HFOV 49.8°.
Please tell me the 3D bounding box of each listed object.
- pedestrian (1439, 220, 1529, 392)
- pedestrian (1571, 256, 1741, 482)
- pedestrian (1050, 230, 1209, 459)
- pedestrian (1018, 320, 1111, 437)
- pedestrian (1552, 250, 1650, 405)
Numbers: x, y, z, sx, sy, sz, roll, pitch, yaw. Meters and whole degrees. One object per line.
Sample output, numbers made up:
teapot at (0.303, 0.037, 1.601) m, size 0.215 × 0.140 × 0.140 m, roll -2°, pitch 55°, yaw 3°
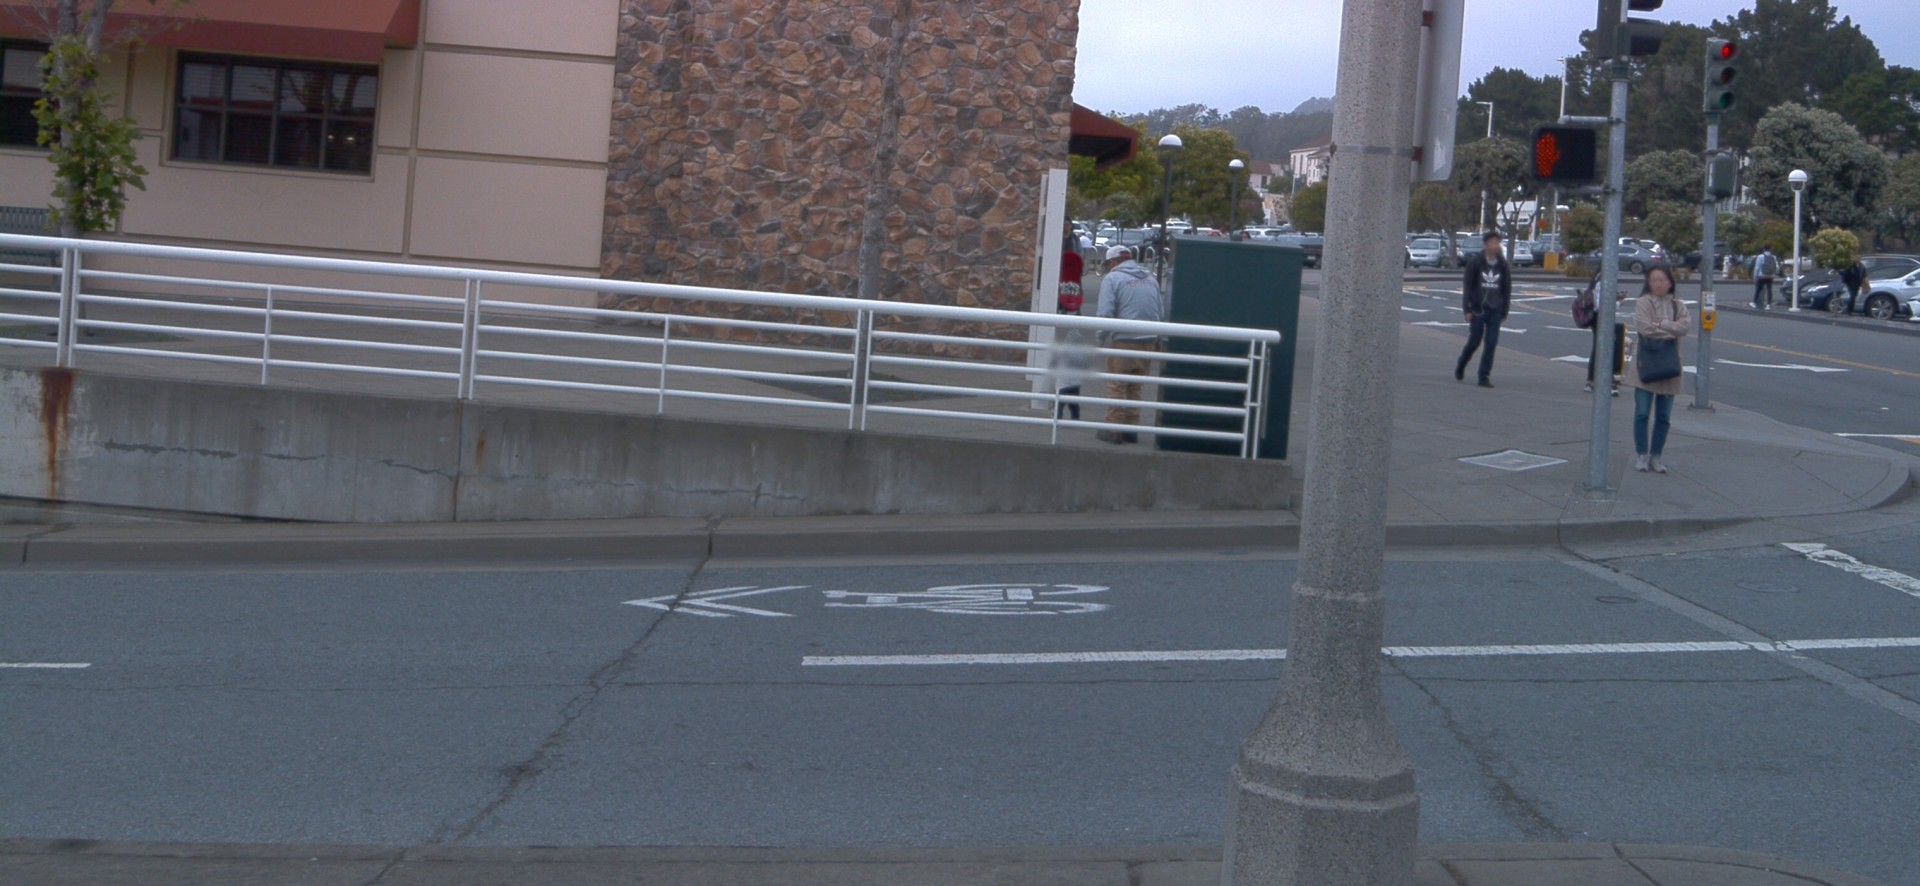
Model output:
pedestrian at (5.768, -1.533, 22.785) m, size 0.689 × 1.846 × 0.922 m, roll -1°, pitch 2°, yaw -5°
pedestrian at (5.480, -0.609, 16.325) m, size 1.041 × 1.706 × 0.821 m, roll -1°, pitch 2°, yaw -2°
pedestrian at (1.313, -0.796, 16.049) m, size 0.868 × 1.696 × 0.885 m, roll -2°, pitch 3°, yaw -31°
pedestrian at (0.841, -0.530, 16.680) m, size 0.542 × 0.878 × 0.547 m, roll -2°, pitch 3°, yaw -28°
pedestrian at (7.173, -1.314, 23.137) m, size 0.787 × 1.677 × 0.691 m, roll -1°, pitch 2°, yaw -19°
